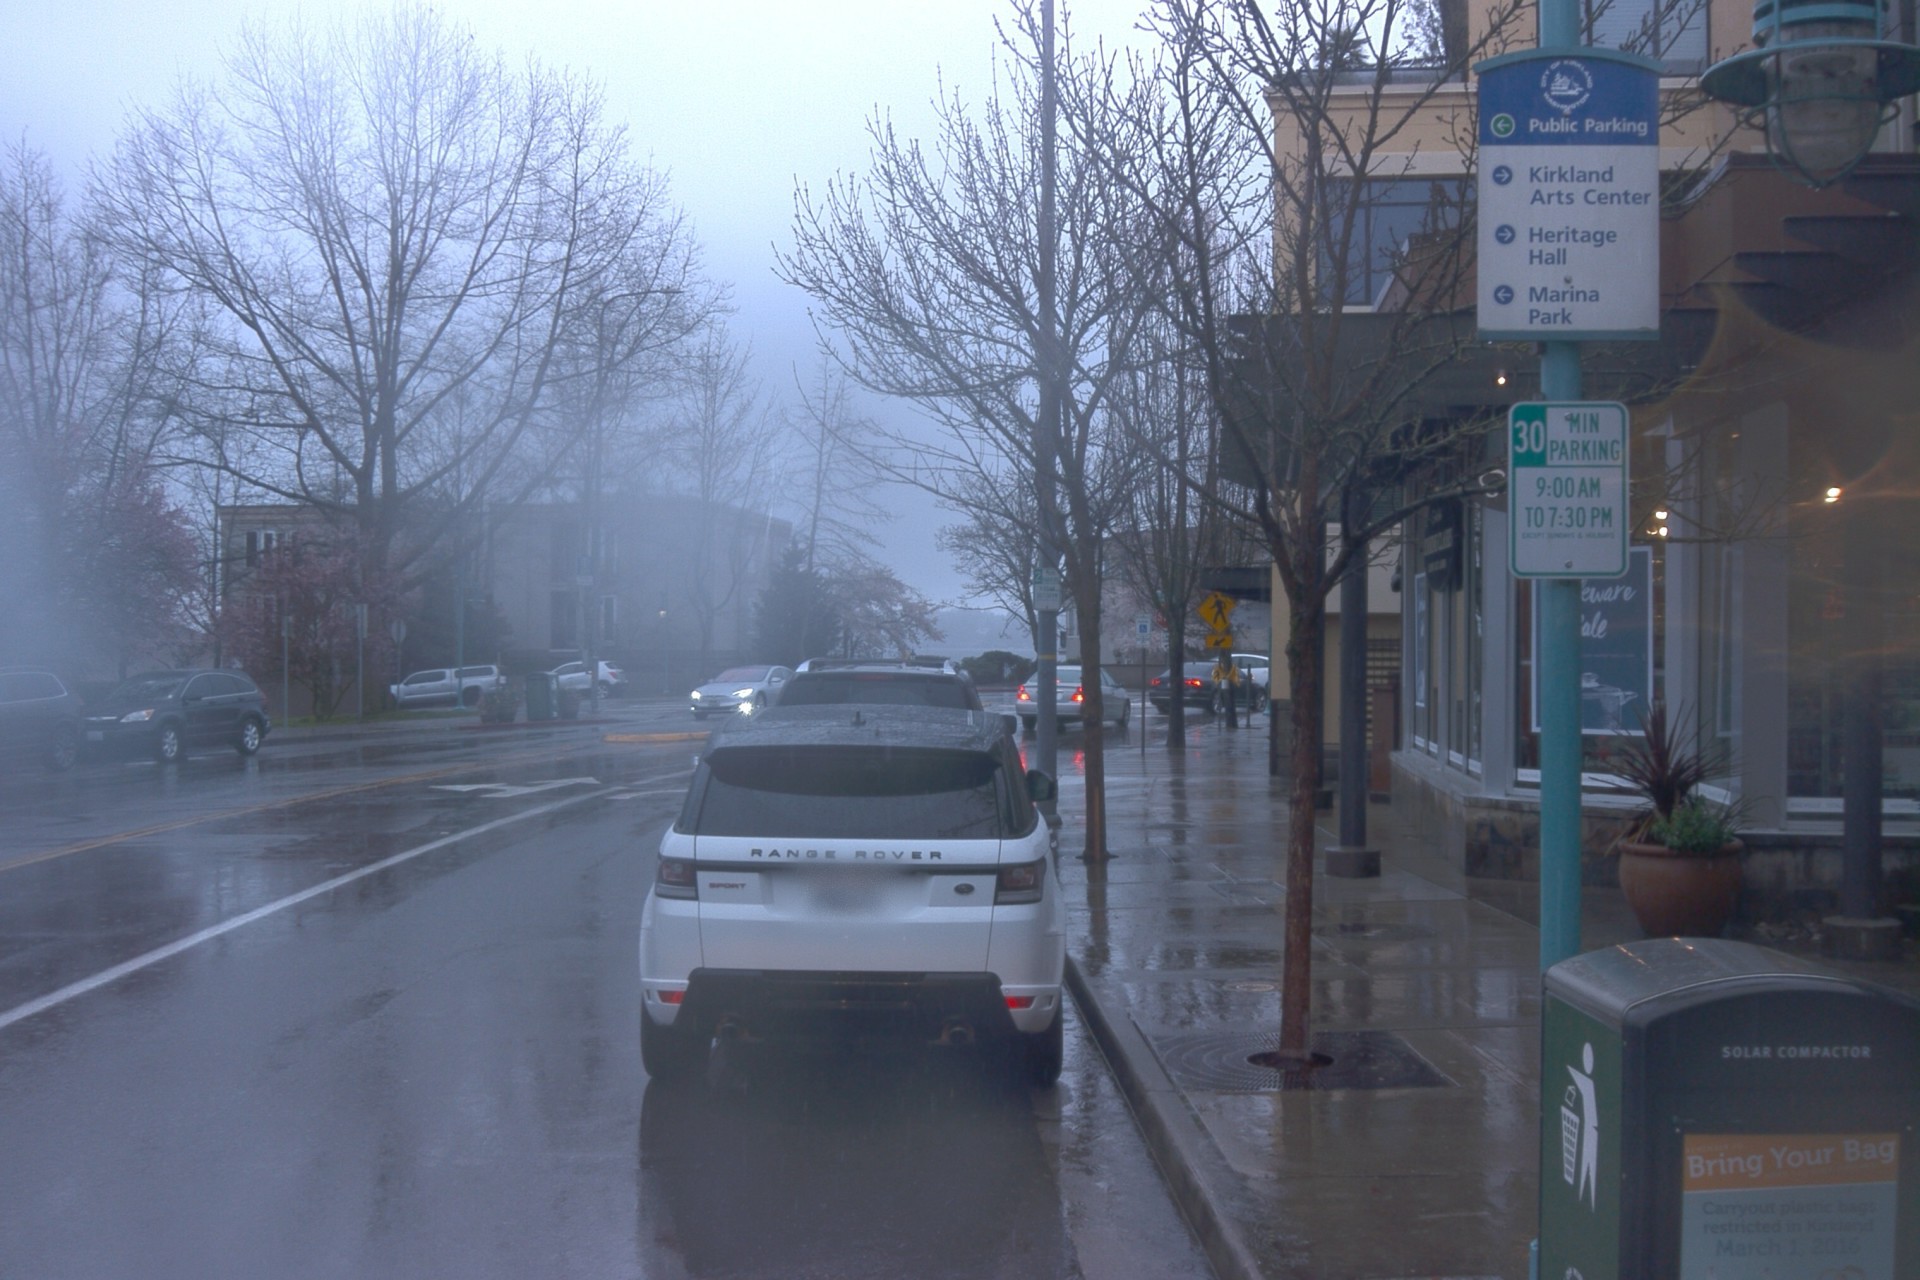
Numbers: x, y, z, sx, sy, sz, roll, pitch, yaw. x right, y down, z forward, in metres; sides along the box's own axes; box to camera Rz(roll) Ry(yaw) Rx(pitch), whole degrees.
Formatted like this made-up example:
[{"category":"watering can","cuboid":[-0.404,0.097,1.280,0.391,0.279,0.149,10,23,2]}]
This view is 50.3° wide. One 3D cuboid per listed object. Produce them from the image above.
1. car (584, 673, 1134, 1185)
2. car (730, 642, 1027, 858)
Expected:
[{"category":"car","cuboid":[-0.518,1.259,11.130,2.265,2.000,5.125,1,0,-2]},{"category":"car","cuboid":[-0.710,0.831,17.960,2.210,1.560,5.097,1,0,-2]}]
